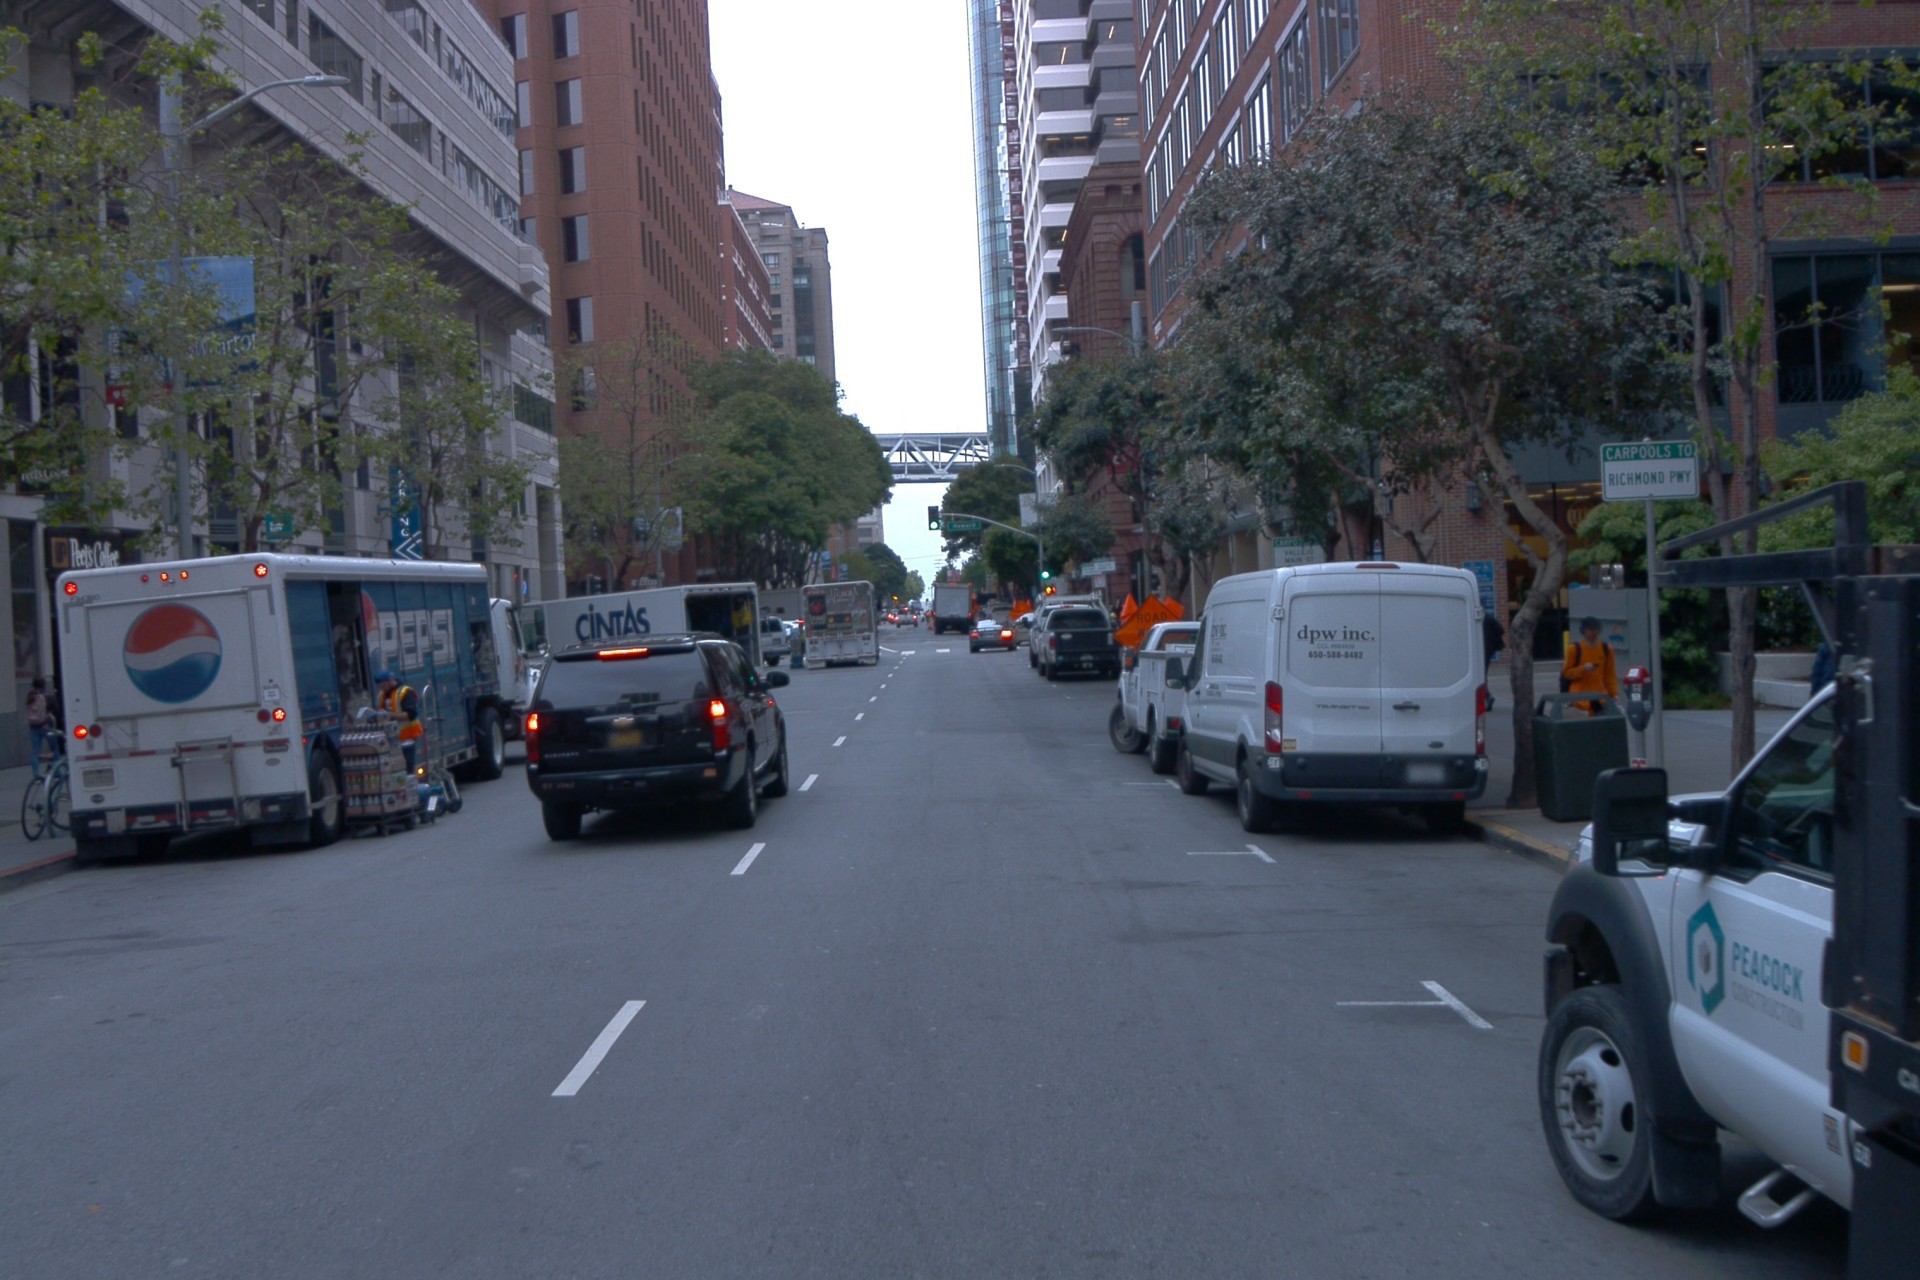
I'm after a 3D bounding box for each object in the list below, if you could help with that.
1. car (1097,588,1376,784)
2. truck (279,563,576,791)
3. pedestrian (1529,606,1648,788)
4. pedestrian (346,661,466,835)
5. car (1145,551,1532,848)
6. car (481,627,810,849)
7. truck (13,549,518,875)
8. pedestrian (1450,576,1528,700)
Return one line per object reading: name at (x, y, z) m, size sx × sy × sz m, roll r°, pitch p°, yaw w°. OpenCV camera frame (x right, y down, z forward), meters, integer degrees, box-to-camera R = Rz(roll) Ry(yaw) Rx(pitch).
car at (3.449, 0.497, 27.159) m, size 2.613 × 2.293 × 5.986 m, roll 0°, pitch 1°, yaw -3°
truck at (-7.823, 0.469, 30.994) m, size 2.964 × 3.110 × 5.684 m, roll 0°, pitch 1°, yaw 0°
pedestrian at (6.531, 0.575, 21.412) m, size 0.879 × 1.850 × 0.977 m, roll 0°, pitch 1°, yaw -5°
pedestrian at (-6.141, 1.172, 22.794) m, size 0.989 × 1.860 × 0.829 m, roll 0°, pitch 1°, yaw 32°
car at (3.556, 0.476, 20.819) m, size 2.501 × 2.560 × 6.049 m, roll 0°, pitch 1°, yaw -3°
car at (-3.009, 0.858, 21.166) m, size 2.449 × 1.929 × 5.813 m, roll 0°, pitch 1°, yaw 1°
truck at (-7.745, 0.637, 24.690) m, size 2.745 × 3.140 × 9.690 m, roll 0°, pitch 1°, yaw 0°
pedestrian at (8.439, -0.038, 32.832) m, size 0.910 × 1.950 × 1.053 m, roll 0°, pitch 1°, yaw -4°
